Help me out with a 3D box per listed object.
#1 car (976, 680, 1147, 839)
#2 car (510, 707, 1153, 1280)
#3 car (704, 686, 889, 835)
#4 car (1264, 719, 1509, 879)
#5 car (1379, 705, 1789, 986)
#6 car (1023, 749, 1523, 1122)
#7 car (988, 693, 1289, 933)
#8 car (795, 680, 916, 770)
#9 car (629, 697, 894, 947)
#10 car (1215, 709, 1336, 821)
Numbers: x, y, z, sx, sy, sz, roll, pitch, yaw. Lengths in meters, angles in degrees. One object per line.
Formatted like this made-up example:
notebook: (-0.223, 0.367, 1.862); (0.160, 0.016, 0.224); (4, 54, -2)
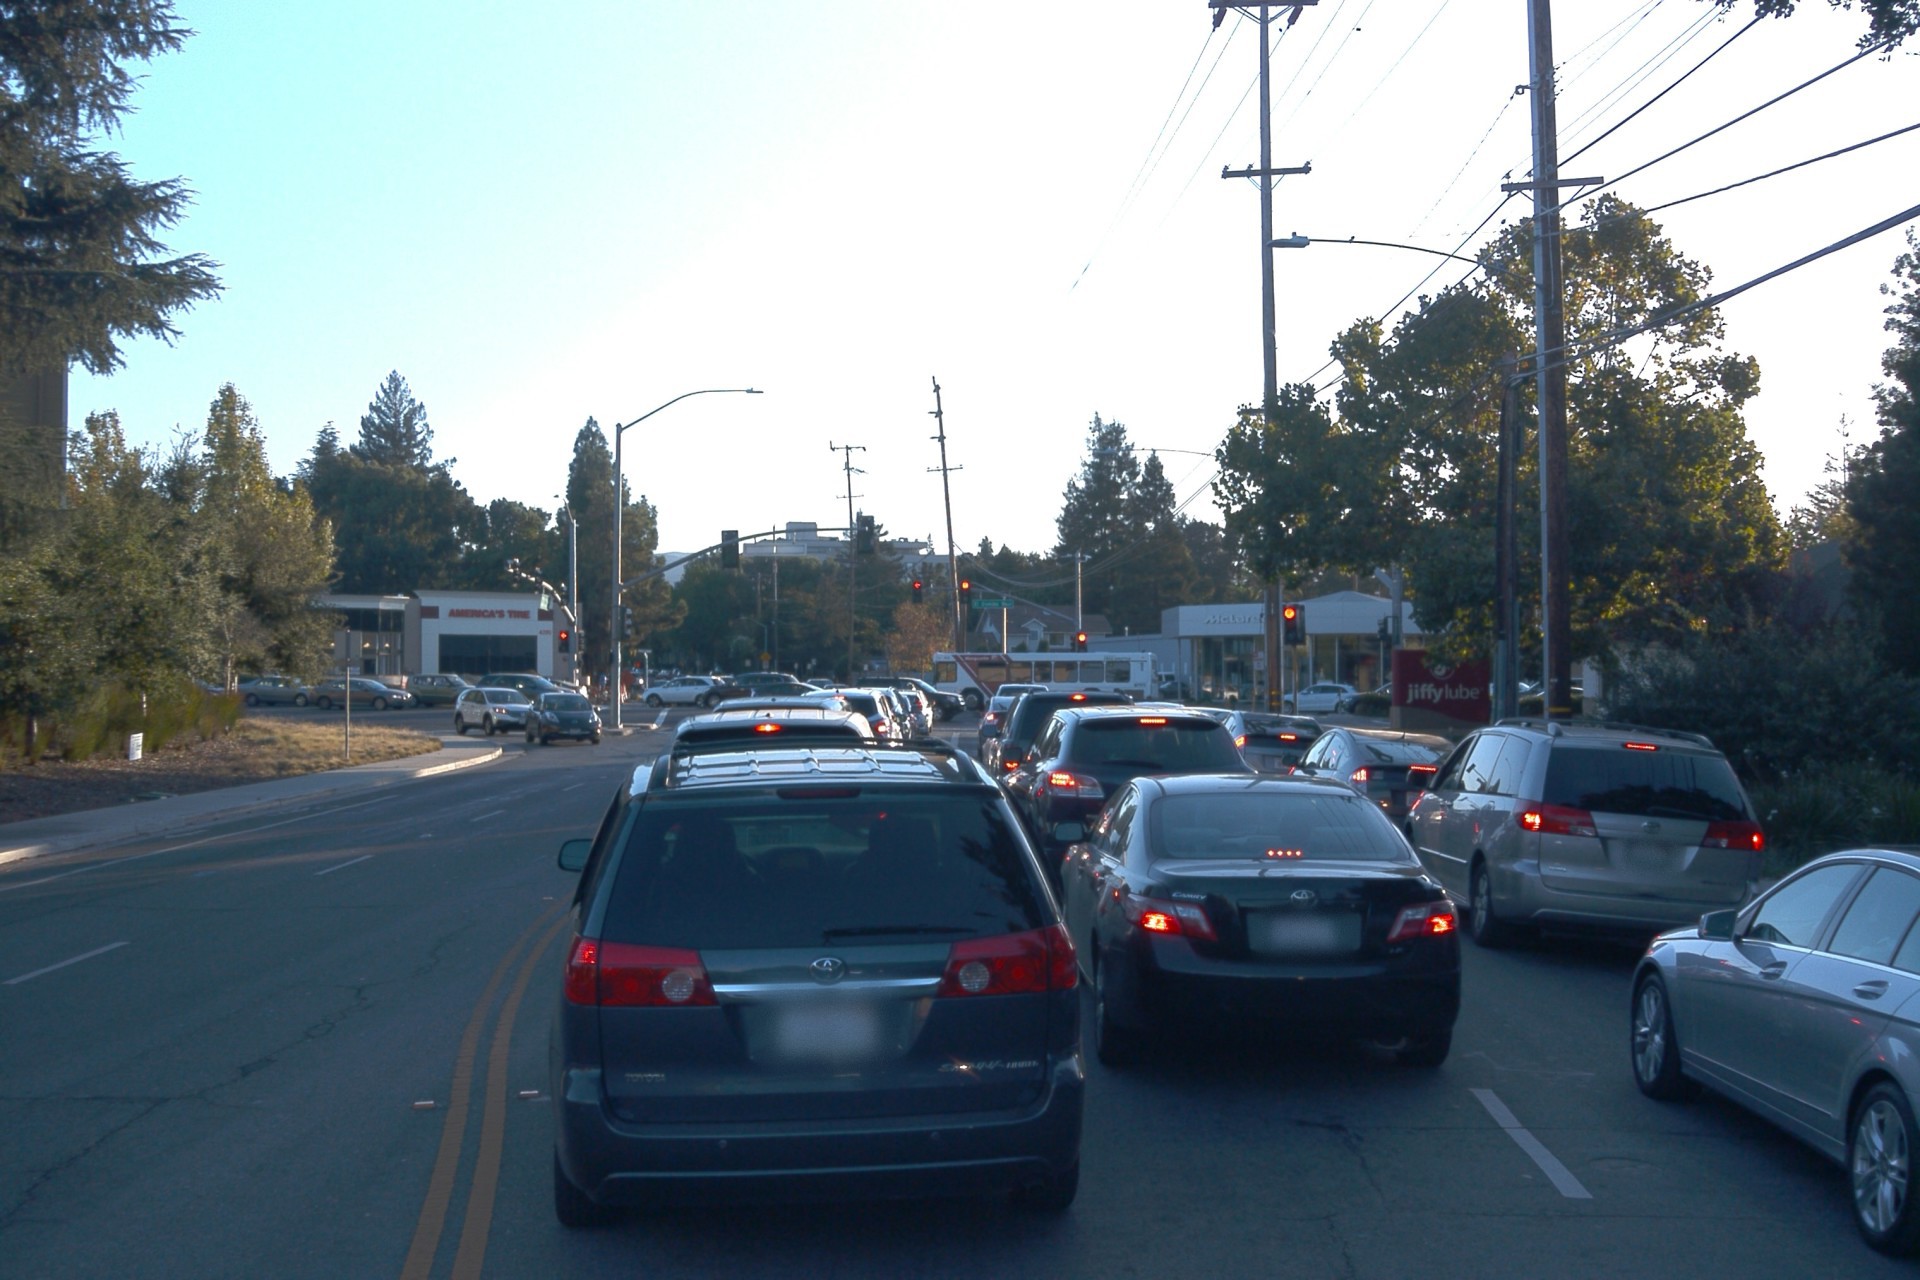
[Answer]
car: (1.186, 1.415, 25.823); (1.759, 1.770, 3.957); (0, 0, -3)
car: (-0.814, 1.299, 9.460); (2.102, 1.830, 5.461); (0, 0, -9)
car: (-1.862, 1.364, 24.680); (1.760, 1.570, 3.956); (0, 0, 2)
car: (4.676, 1.709, 23.273); (1.785, 1.510, 4.026); (0, 0, -2)
car: (4.903, 1.524, 17.100); (2.061, 1.850, 4.903); (0, 0, 2)
car: (1.516, 1.474, 11.800); (1.915, 1.490, 4.529); (0, 0, -3)
car: (1.458, 1.438, 18.790); (1.992, 1.810, 4.553); (0, 0, -5)
car: (-1.661, 1.352, 33.817); (1.709, 1.350, 3.337); (0, 0, 2)
car: (-1.430, 1.303, 16.214); (1.812, 1.620, 4.042); (0, 0, -2)
car: (4.669, 1.822, 30.934); (1.418, 1.490, 3.138); (0, 0, 2)
